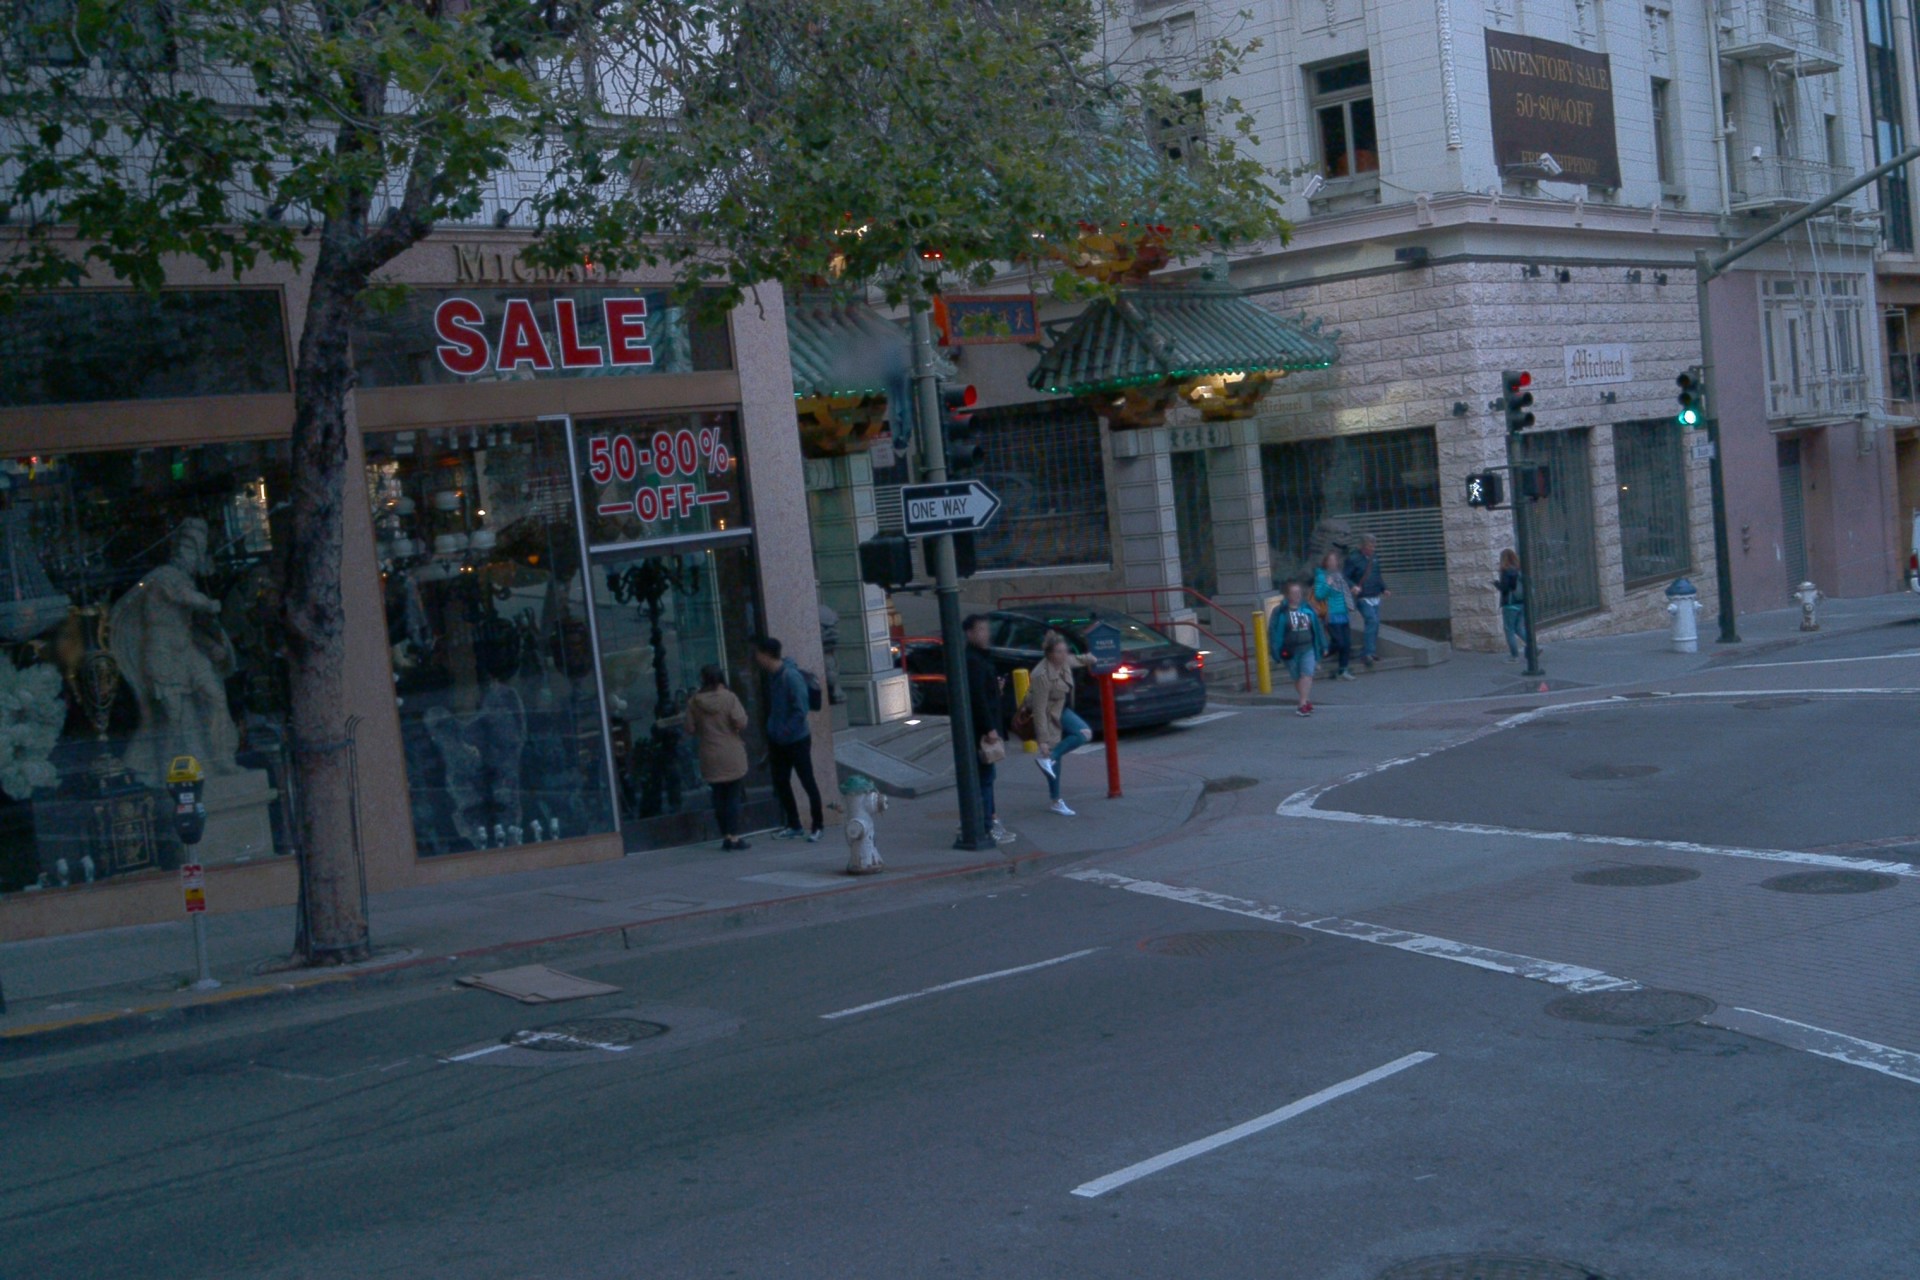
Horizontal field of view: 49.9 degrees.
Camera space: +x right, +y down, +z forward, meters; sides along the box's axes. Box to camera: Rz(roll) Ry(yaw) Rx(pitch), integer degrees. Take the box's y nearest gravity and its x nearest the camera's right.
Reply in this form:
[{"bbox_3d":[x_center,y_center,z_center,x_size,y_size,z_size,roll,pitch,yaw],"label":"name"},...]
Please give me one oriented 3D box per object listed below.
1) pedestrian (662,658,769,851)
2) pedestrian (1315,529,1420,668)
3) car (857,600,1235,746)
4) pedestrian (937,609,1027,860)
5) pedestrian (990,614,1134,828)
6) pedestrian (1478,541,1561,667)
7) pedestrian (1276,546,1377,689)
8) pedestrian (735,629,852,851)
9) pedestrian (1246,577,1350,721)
[{"bbox_3d":[-2.058,0.952,17.431,0.789,1.580,0.743,0,1,2],"label":"pedestrian"},{"bbox_3d":[5.470,-0.555,27.736,0.964,1.820,1.000,-1,1,-36],"label":"pedestrian"},{"bbox_3d":[0.963,0.336,25.665,2.155,1.640,4.647,-1,1,-39],"label":"car"},{"bbox_3d":[0.189,0.772,17.380,0.546,2.070,0.610,0,1,27],"label":"pedestrian"},{"bbox_3d":[0.935,0.706,18.840,0.817,1.880,1.093,1,1,39],"label":"pedestrian"},{"bbox_3d":[7.508,-0.481,27.693,0.818,1.660,0.754,1,1,42],"label":"pedestrian"},{"bbox_3d":[4.841,-0.303,27.291,0.927,1.850,0.934,-1,1,-39],"label":"pedestrian"},{"bbox_3d":[-1.454,0.845,18.014,0.724,1.880,0.716,-1,1,-43],"label":"pedestrian"},{"bbox_3d":[4.089,0.096,25.036,0.975,1.710,0.986,0,1,-11],"label":"pedestrian"}]
